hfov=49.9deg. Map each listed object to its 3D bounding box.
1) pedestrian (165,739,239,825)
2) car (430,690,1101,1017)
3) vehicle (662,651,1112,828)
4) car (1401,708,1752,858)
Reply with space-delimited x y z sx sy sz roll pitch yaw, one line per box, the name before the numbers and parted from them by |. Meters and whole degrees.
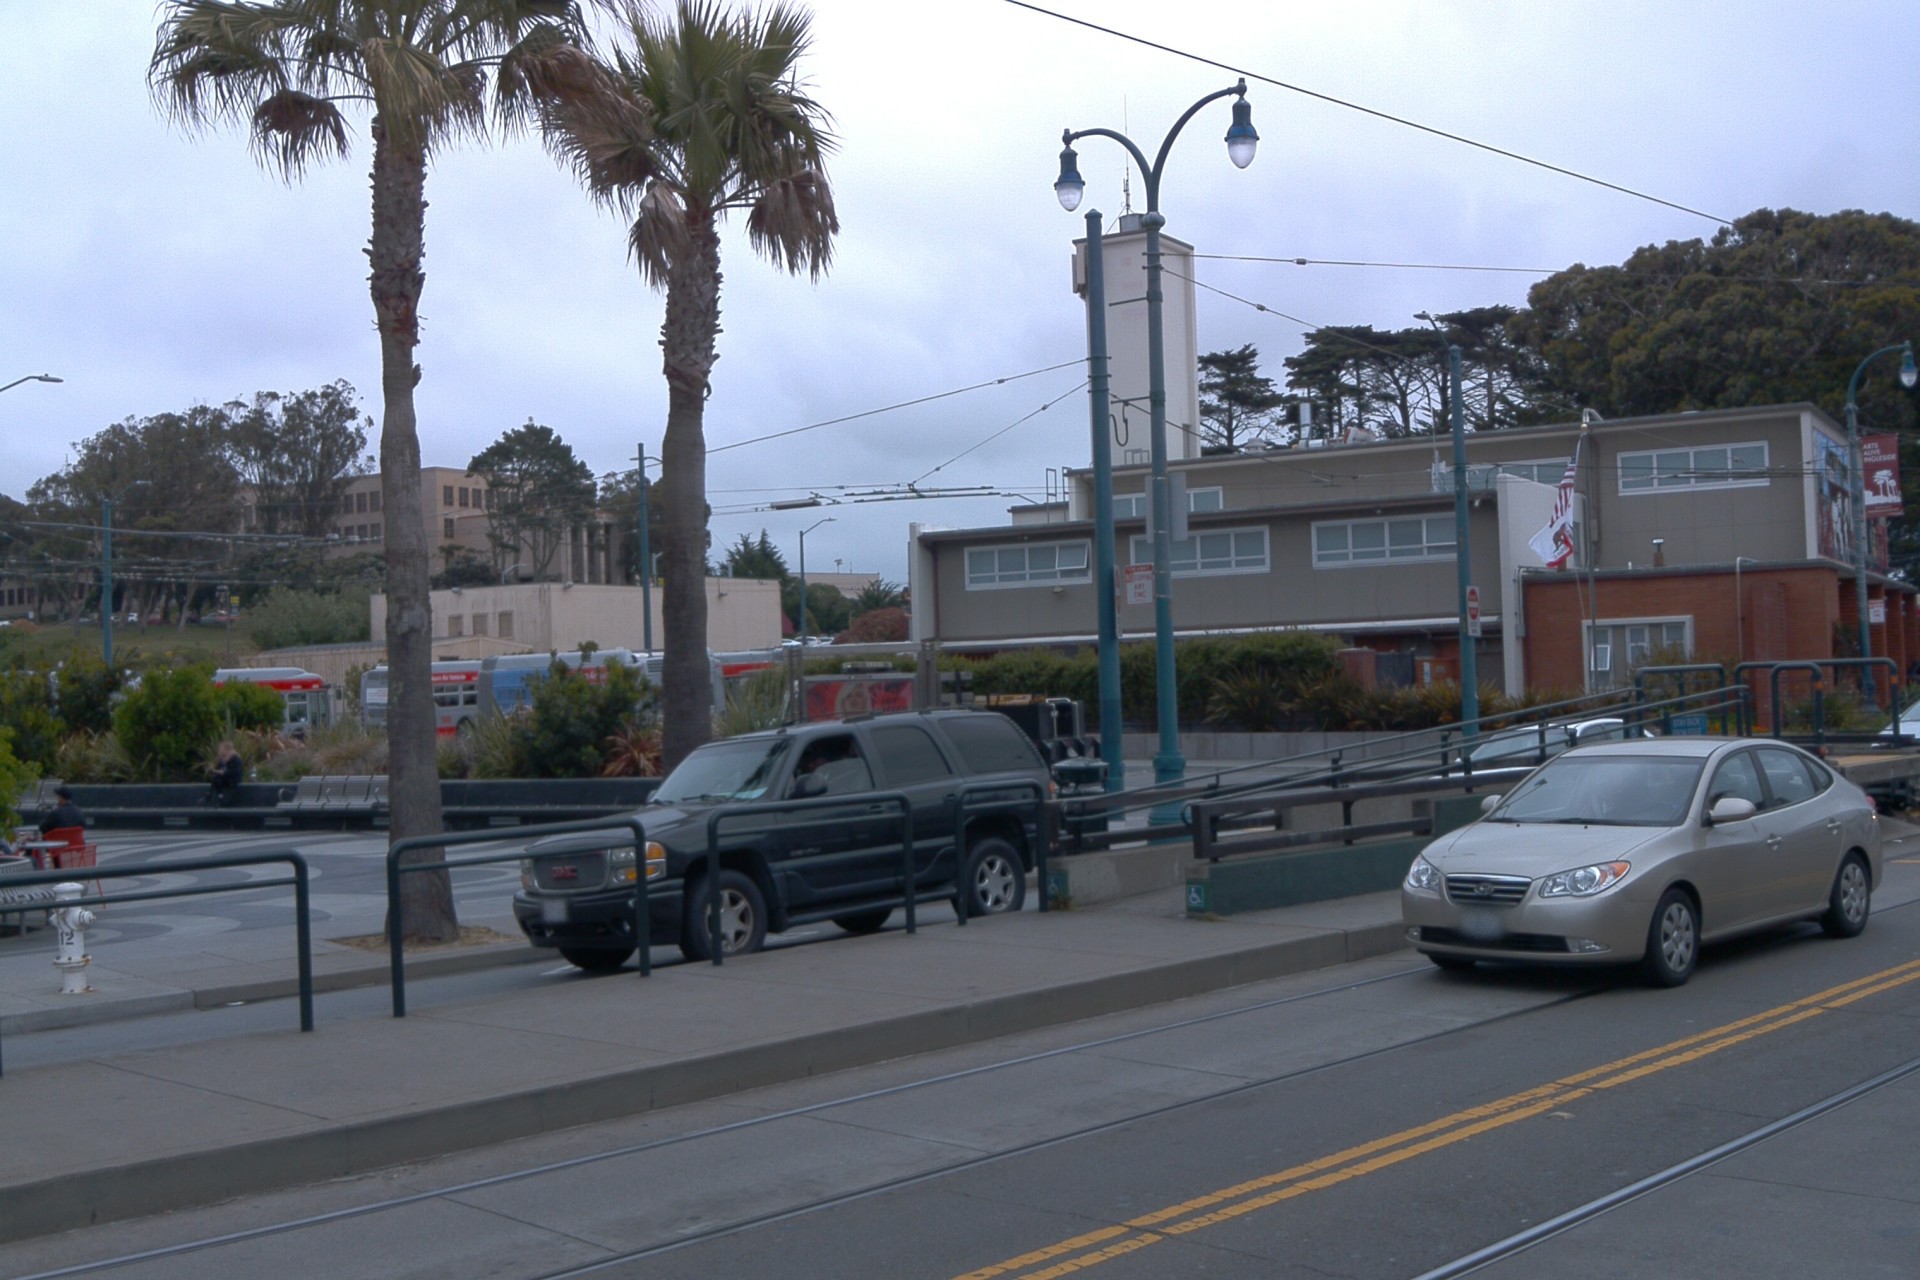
pedestrian | -13.493 2.517 36.740 0.927 1.420 0.815 0 1 27
car | -1.445 1.558 17.078 2.400 2.050 5.198 1 1 45
vehicle | -1.269 1.606 35.713 7.210 2.700 2.890 0 1 23
car | 7.712 1.685 25.570 4.698 1.450 2.030 -1 1 -42
